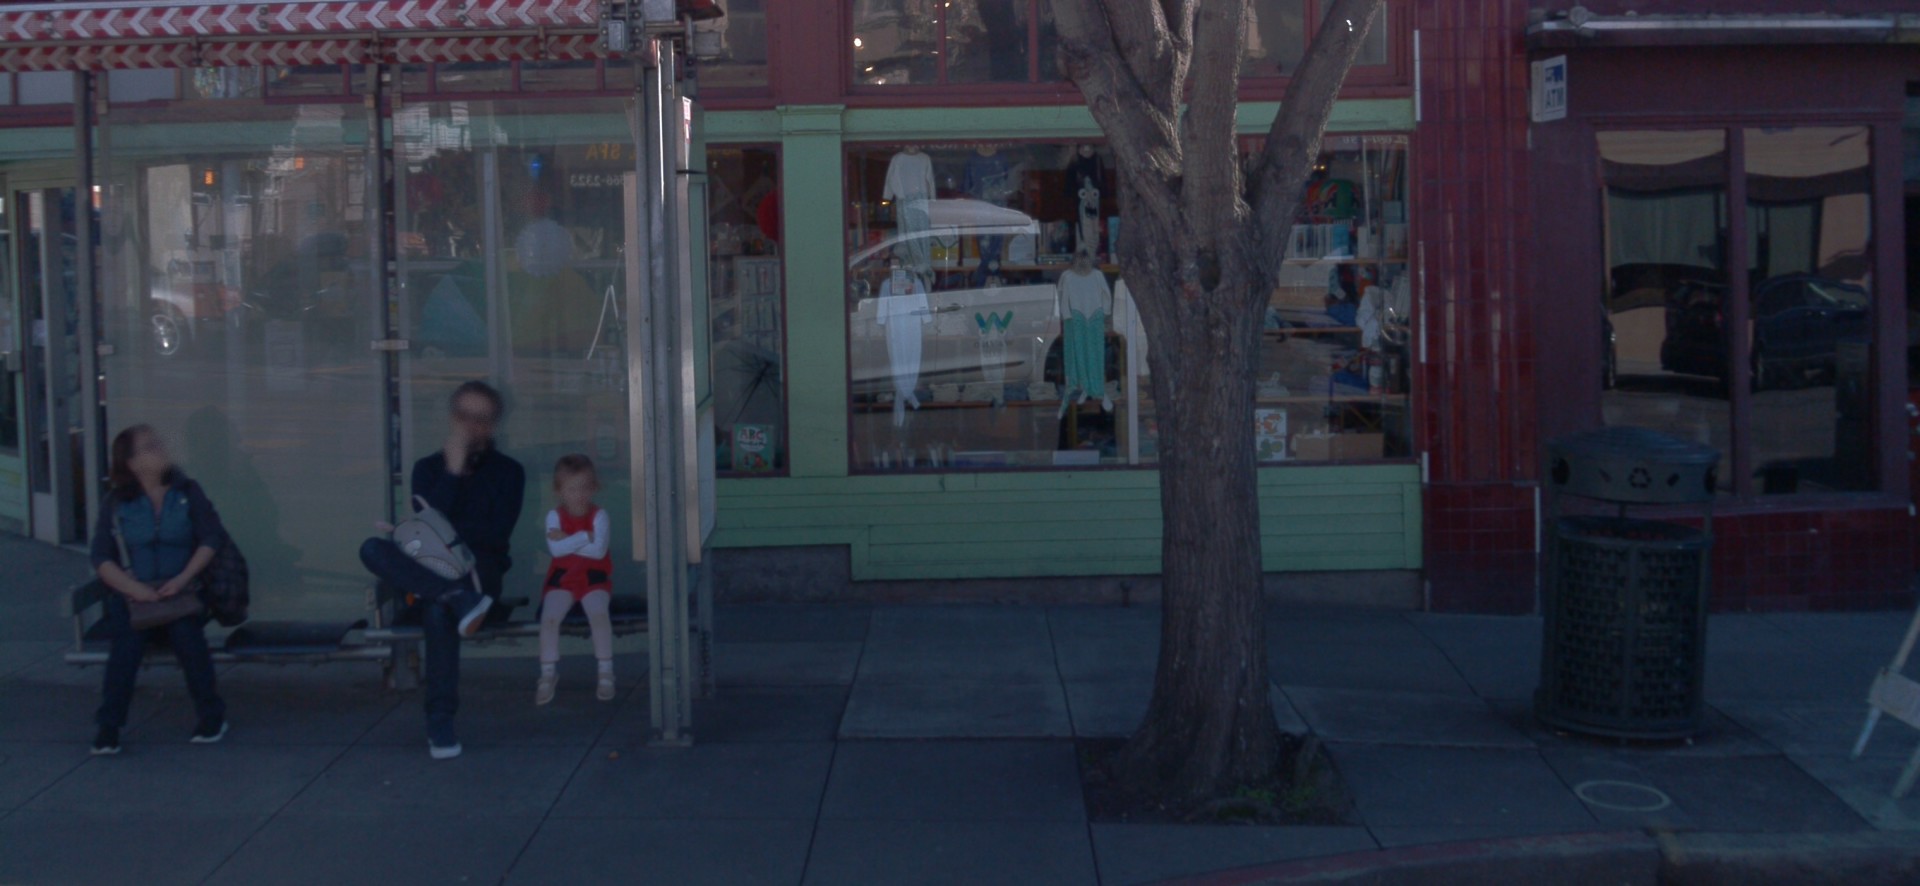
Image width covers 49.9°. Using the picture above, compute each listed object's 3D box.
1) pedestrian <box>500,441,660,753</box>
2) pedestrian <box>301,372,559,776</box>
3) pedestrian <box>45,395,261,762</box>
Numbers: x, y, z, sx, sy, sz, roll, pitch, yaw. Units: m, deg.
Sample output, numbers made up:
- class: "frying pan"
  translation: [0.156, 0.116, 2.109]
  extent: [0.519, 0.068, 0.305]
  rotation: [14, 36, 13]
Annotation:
- class: "pedestrian"
  translation: [-1.463, 0.576, 8.015]
  extent: [0.528, 1.098, 0.572]
  rotation: [0, 2, -3]
- class: "pedestrian"
  translation: [-2.020, 0.463, 7.993]
  extent: [0.753, 1.398, 0.926]
  rotation: [0, 2, 0]
- class: "pedestrian"
  translation: [-3.126, 0.485, 8.060]
  extent: [0.737, 1.258, 0.794]
  rotation: [-1, 2, -19]
